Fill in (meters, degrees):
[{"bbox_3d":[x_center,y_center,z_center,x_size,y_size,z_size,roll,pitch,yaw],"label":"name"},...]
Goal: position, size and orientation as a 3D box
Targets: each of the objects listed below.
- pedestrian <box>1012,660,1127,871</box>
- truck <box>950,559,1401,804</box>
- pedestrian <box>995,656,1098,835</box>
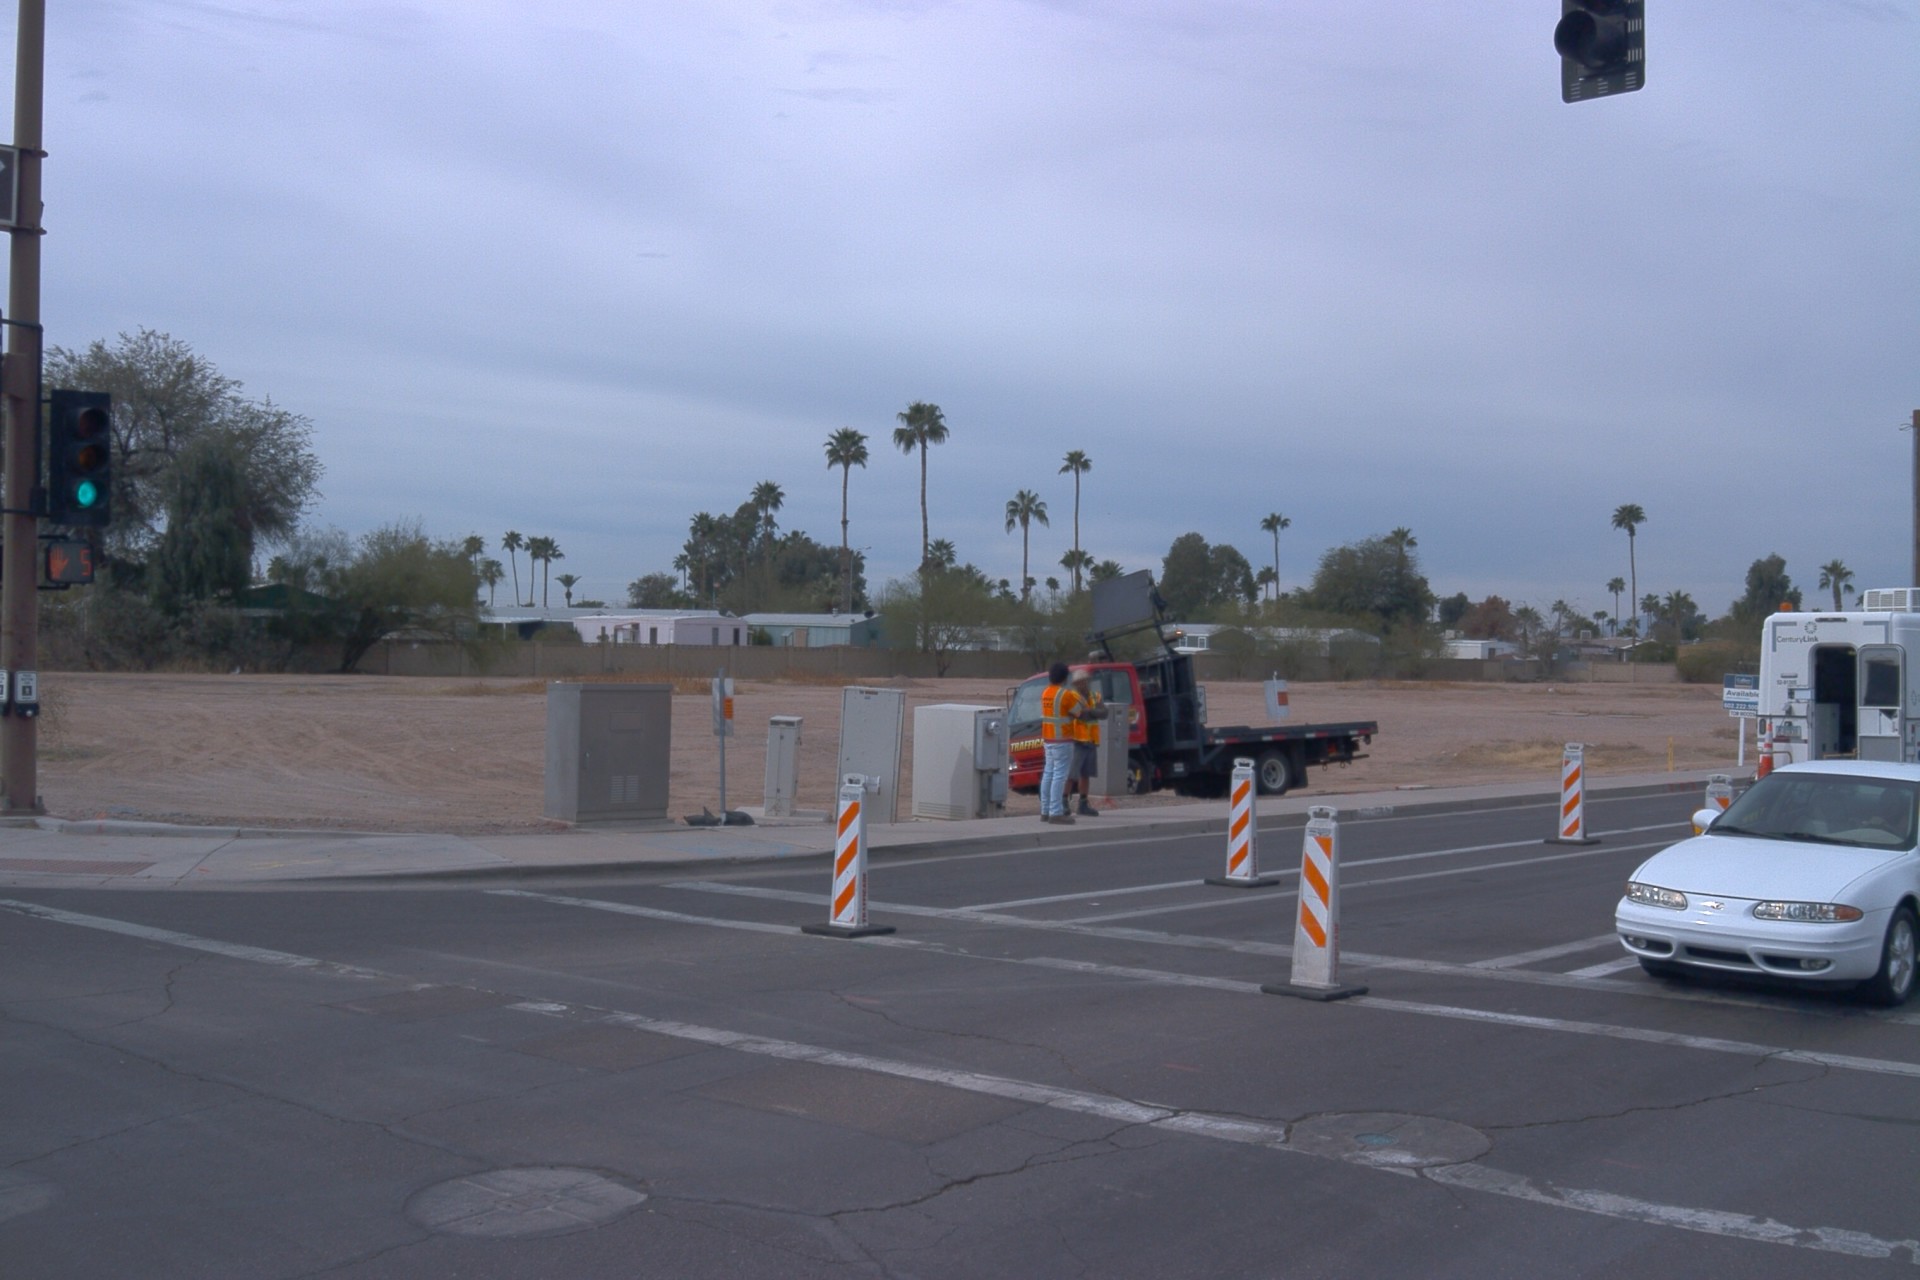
[{"bbox_3d":[1.290,1.447,23.974,0.957,2.400,0.871,1,0,-42],"label":"pedestrian"},{"bbox_3d":[3.472,0.638,32.041,6.641,3.490,3.005,1,0,-35],"label":"truck"},{"bbox_3d":[0.983,1.177,23.098,0.858,1.960,0.731,2,0,36],"label":"pedestrian"}]
